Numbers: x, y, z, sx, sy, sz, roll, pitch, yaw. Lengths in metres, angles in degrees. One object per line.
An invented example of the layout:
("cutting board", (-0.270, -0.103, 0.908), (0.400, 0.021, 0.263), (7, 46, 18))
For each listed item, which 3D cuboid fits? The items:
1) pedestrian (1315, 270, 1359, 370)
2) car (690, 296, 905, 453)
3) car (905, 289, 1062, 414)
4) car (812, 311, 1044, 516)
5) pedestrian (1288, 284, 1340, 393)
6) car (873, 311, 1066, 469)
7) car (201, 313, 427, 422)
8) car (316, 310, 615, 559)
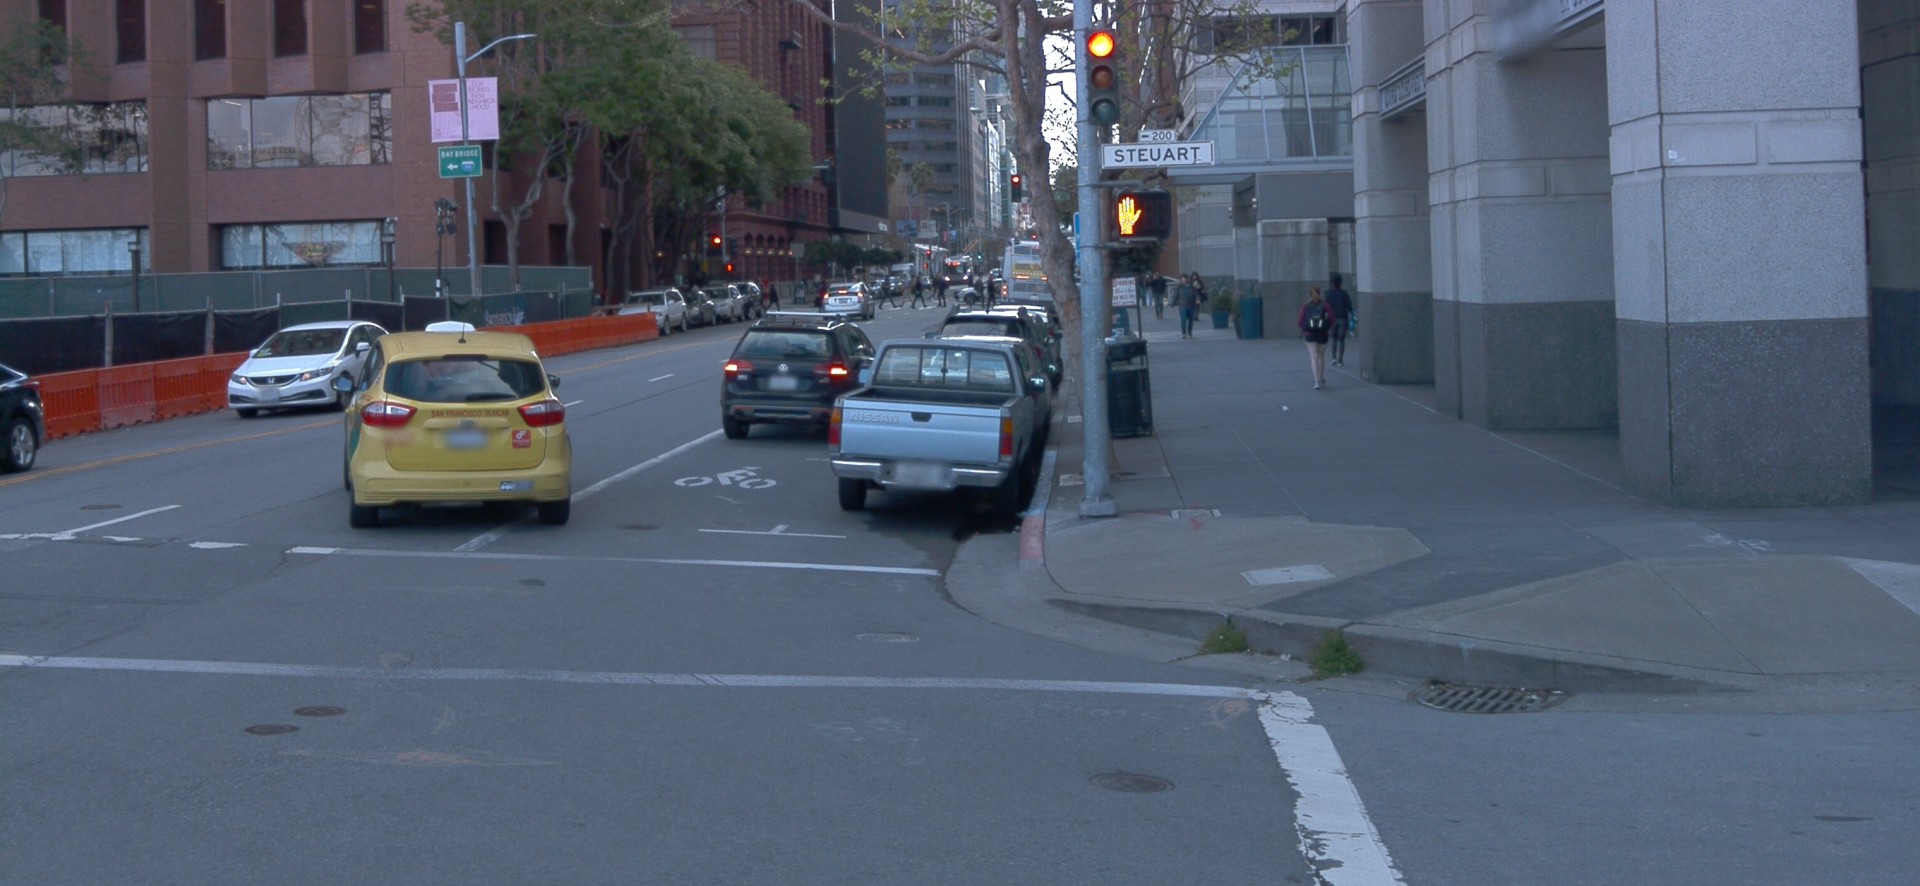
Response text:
("pedestrian", (6.980, -2.289, 38.243), (0.713, 1.810, 0.742), (0, 1, 18))
("car", (-2.011, -0.980, 26.888), (2.035, 1.754, 4.228), (0, 5, 6))
("car", (0.446, -1.505, 32.209), (2.261, 1.663, 4.949), (0, 5, 3))
("car", (-0.183, -0.408, 20.192), (1.863, 1.604, 4.695), (0, 5, 4))
("pedestrian", (5.473, -1.632, 31.956), (0.720, 1.649, 0.900), (0, 1, 5))
("car", (0.222, -0.759, 26.099), (2.108, 1.654, 4.603), (0, 5, 4))
("car", (-10.527, -1.312, 34.042), (2.056, 1.494, 4.643), (0, 5, 3))
("car", (-4.587, -0.227, 18.648), (2.180, 1.784, 4.420), (-1, 5, -19))
